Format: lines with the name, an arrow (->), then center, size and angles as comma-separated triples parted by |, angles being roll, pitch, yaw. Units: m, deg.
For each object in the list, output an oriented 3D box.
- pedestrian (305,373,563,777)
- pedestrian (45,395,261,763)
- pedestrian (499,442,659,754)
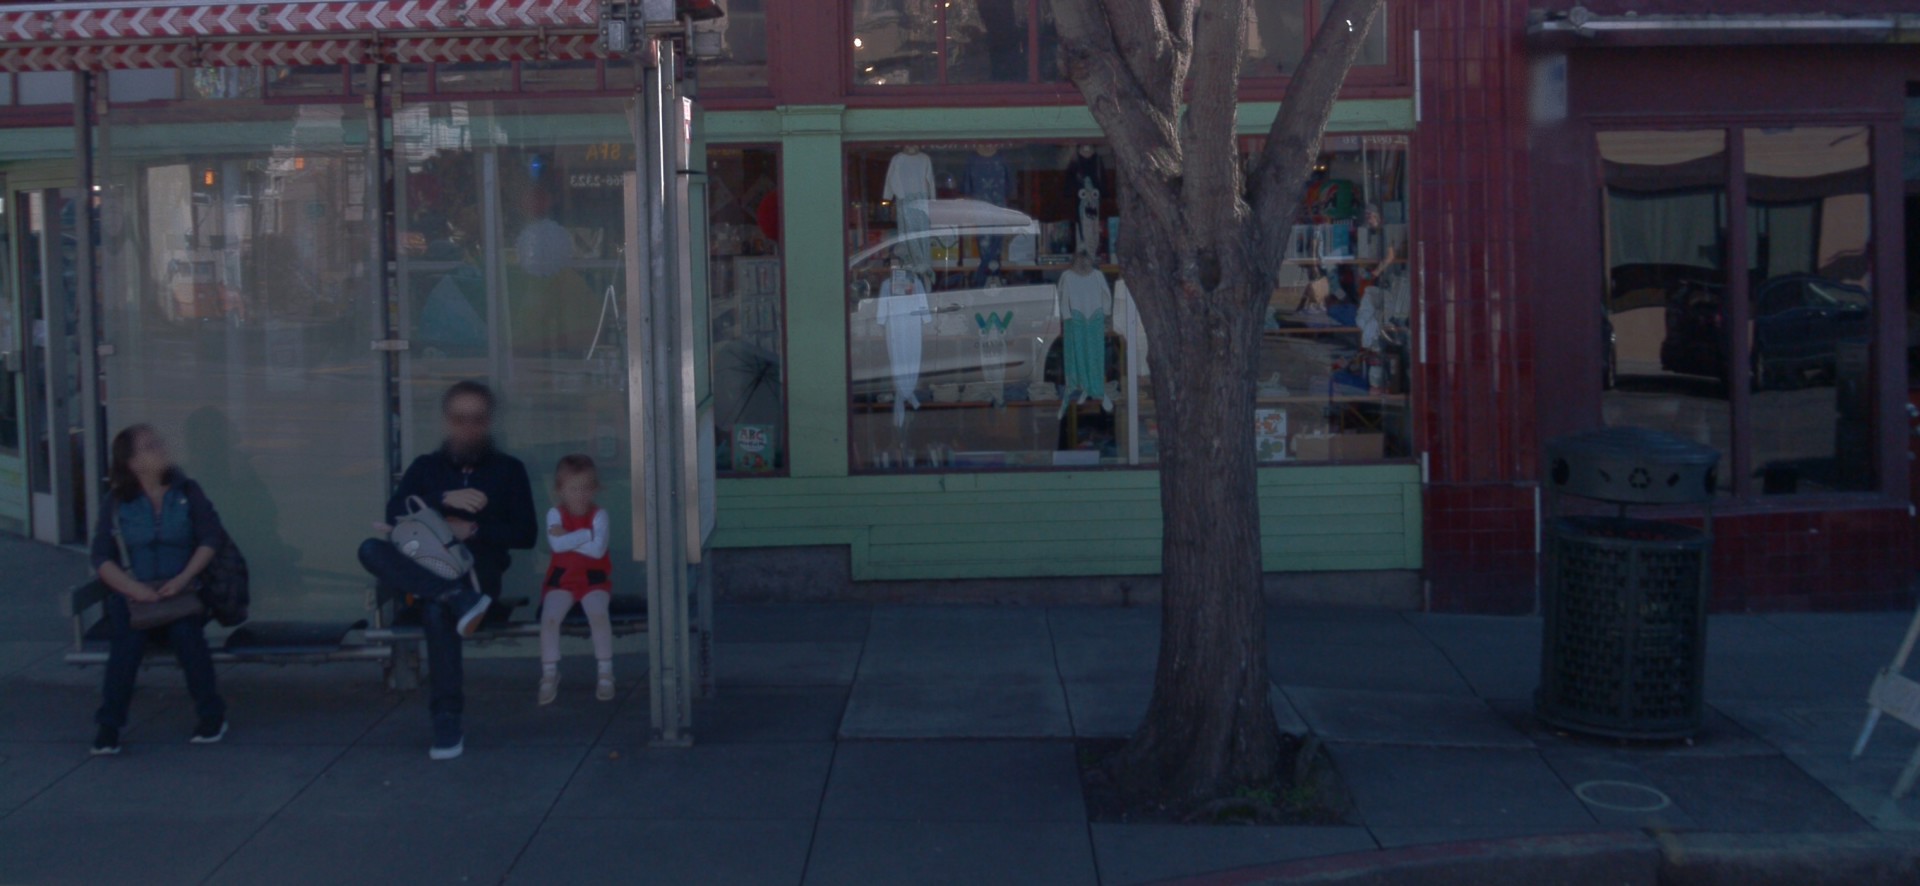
pedestrian -> -2.002, 0.466, 7.982 | 0.753, 1.398, 0.926 | 0, 2, 0
pedestrian -> -3.126, 0.487, 8.060 | 0.737, 1.258, 0.794 | -1, 2, -19
pedestrian -> -1.464, 0.579, 8.005 | 0.528, 1.098, 0.572 | 0, 2, -3
